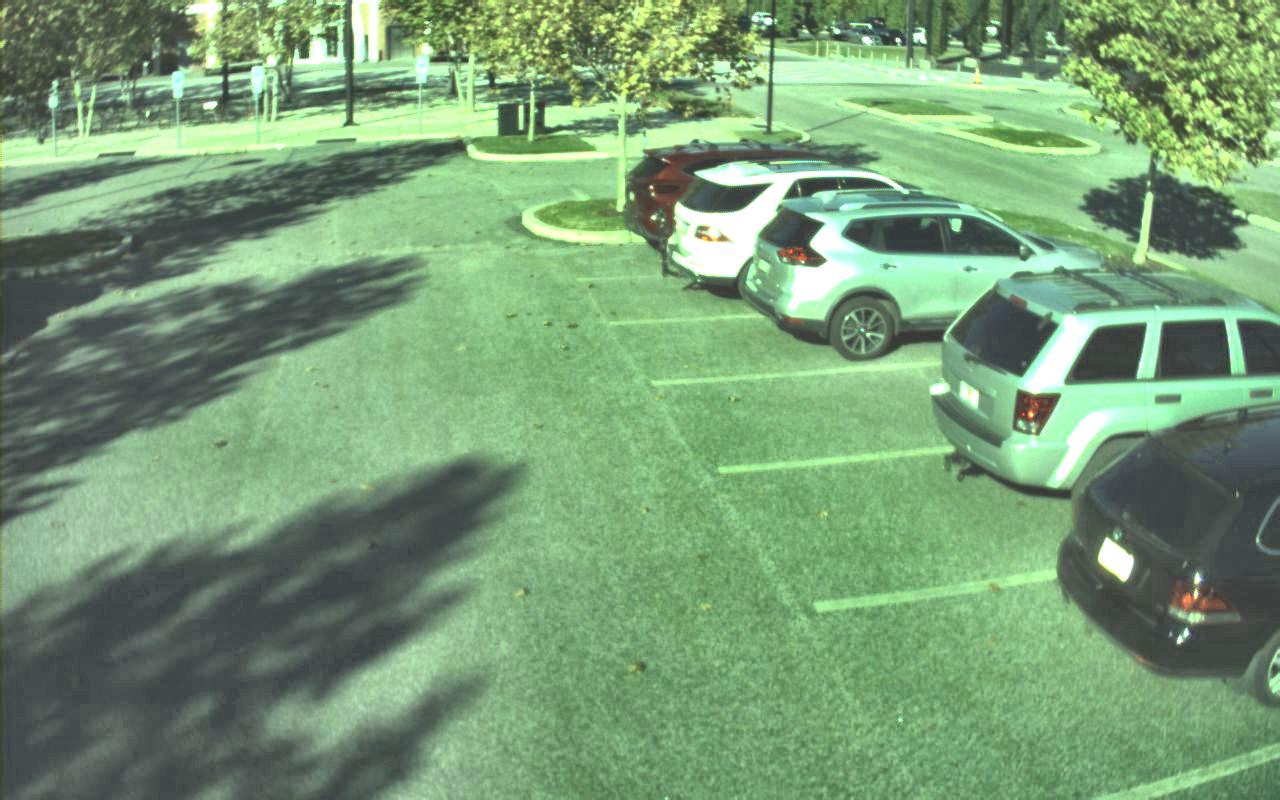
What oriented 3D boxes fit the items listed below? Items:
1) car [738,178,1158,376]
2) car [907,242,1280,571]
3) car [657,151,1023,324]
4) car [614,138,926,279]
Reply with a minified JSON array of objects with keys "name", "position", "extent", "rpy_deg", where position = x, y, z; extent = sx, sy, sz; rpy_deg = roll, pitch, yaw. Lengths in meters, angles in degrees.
[{"name":"car","position":[3.612,-1.558,14.381],"extent":[4.621,1.773,2.002],"rpy_deg":[-4,16,-10]},{"name":"car","position":[4.686,-0.150,9.568],"extent":[4.665,1.879,2.041],"rpy_deg":[-4,16,-10]},{"name":"car","position":[2.700,-2.297,16.787],"extent":[4.568,1.834,2.013],"rpy_deg":[-5,17,-13]},{"name":"car","position":[2.000,-3.061,19.438],"extent":[4.481,1.770,1.985],"rpy_deg":[-5,17,-12]}]
